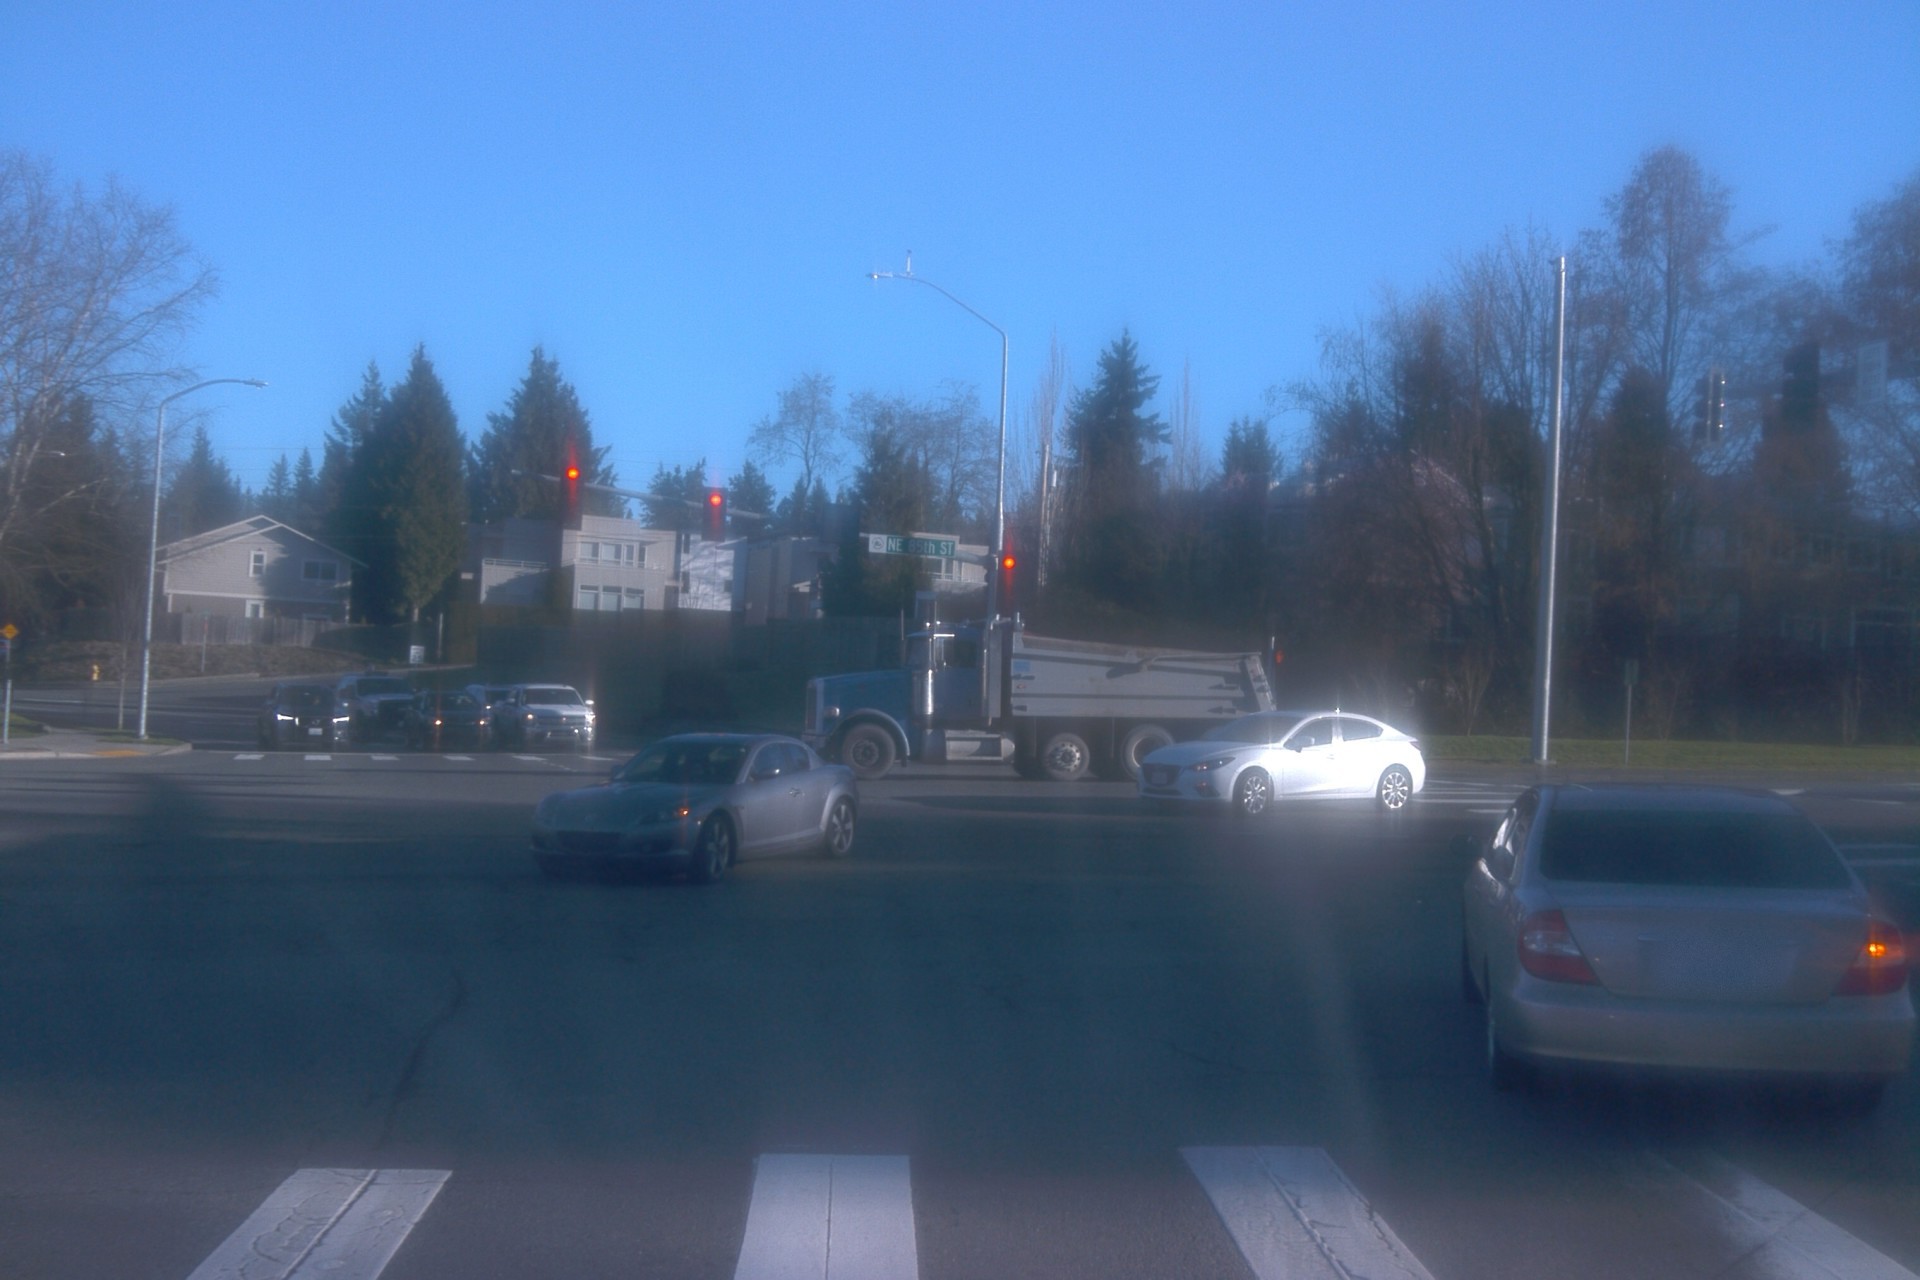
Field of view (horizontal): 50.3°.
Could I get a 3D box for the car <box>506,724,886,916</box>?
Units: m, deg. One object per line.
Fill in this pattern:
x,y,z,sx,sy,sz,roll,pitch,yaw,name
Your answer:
-2.440,1.663,20.110,1.815,1.450,4.303,1,0,22,car

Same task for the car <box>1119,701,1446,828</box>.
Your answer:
4.608,1.697,29.004,4.390,1.570,2.009,1,0,-35,car
